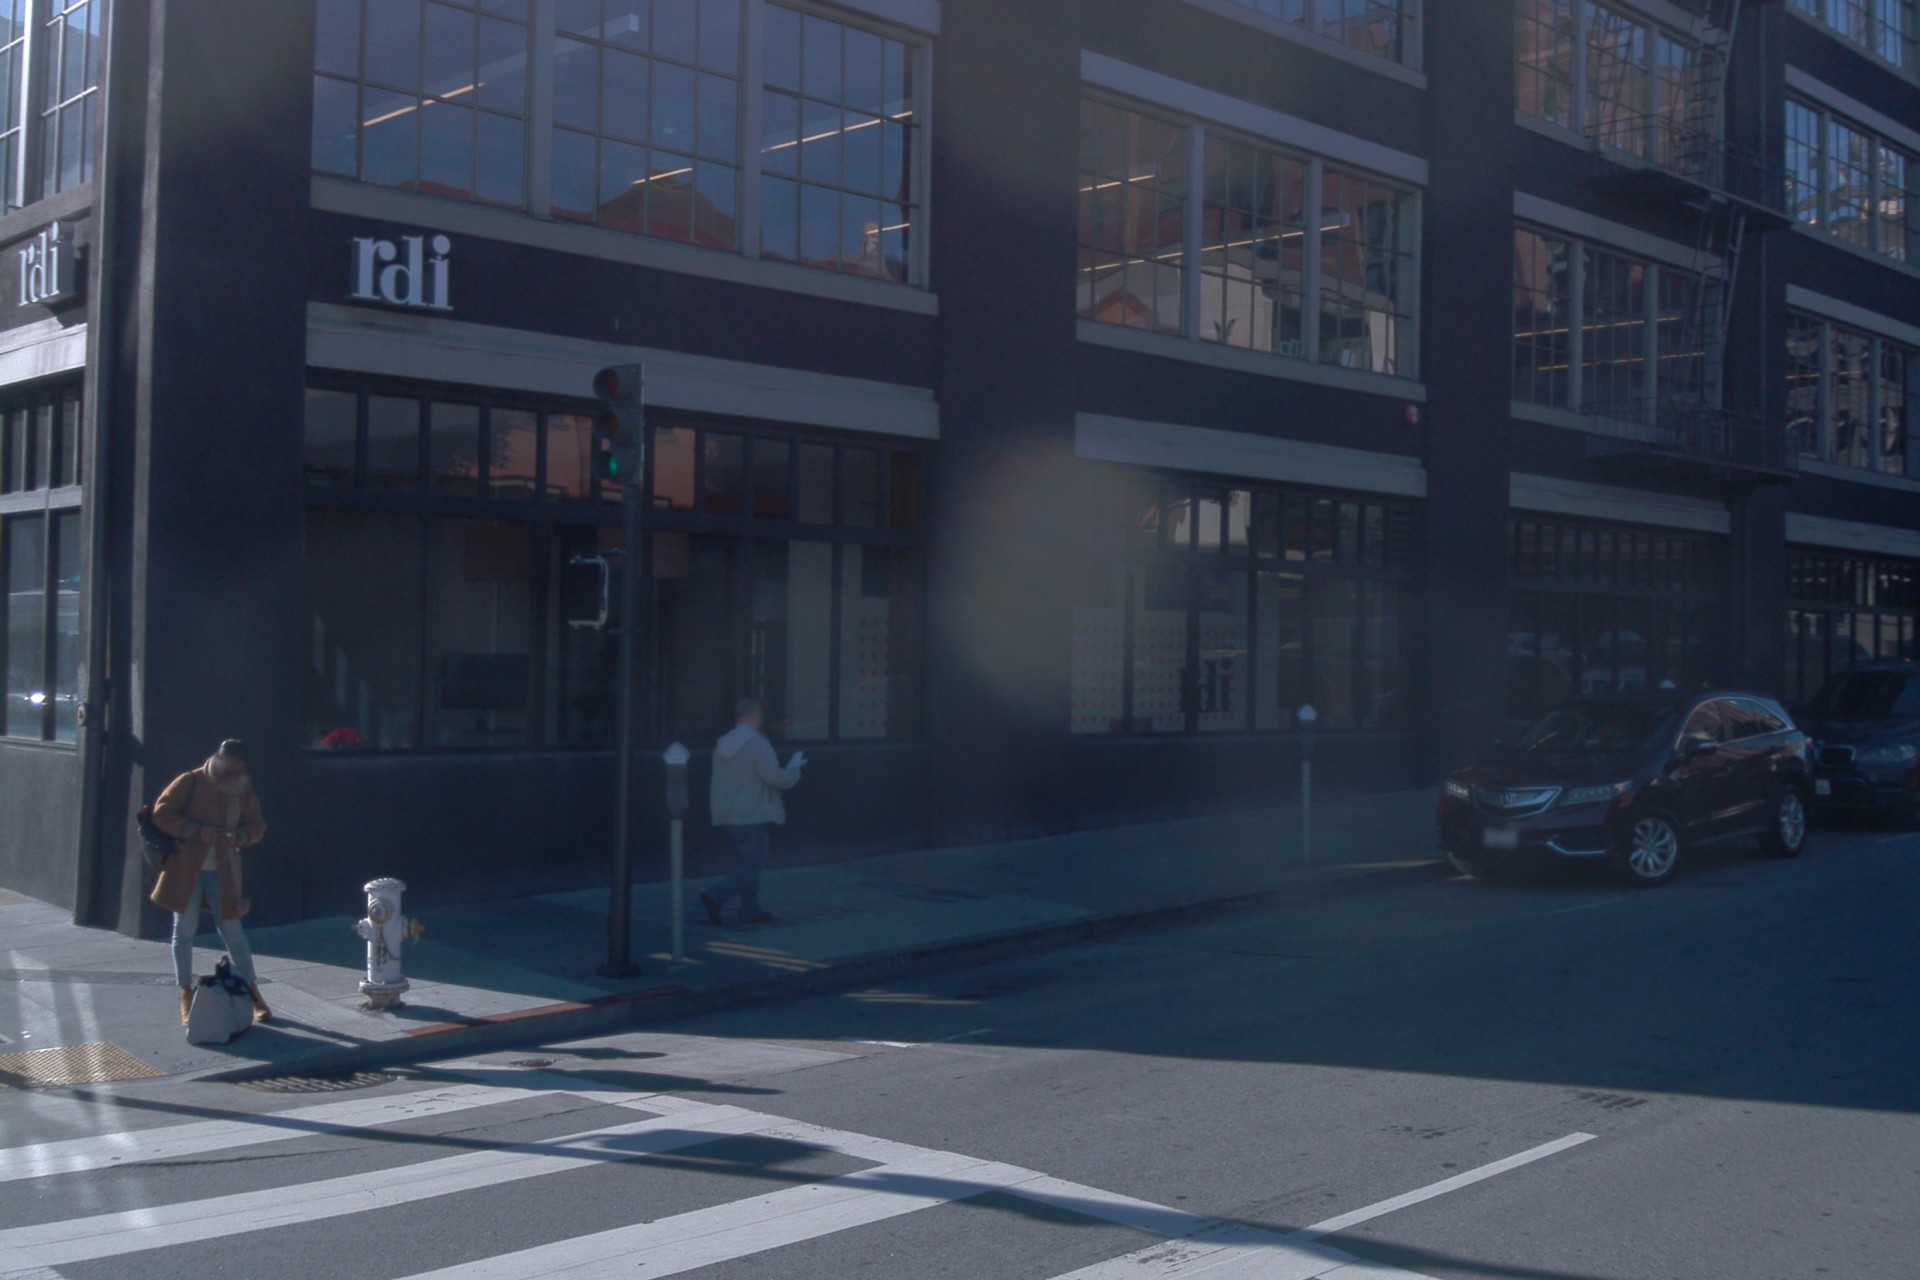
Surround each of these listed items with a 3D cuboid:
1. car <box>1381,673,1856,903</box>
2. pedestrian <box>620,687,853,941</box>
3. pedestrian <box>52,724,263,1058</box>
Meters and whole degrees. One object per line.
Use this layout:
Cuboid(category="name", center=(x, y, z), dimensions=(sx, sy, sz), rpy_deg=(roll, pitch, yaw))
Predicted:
Cuboid(category="car", center=(6.174, 1.241, 19.137), dimensions=(4.759, 1.820, 2.197), rpy_deg=(1, -1, -45))
Cuboid(category="pedestrian", center=(-1.588, 1.193, 14.827), dimensions=(1.039, 1.690, 1.254), rpy_deg=(0, -1, 44))
Cuboid(category="pedestrian", center=(-4.350, 1.319, 11.338), dimensions=(0.985, 1.680, 1.012), rpy_deg=(1, -1, -18))
